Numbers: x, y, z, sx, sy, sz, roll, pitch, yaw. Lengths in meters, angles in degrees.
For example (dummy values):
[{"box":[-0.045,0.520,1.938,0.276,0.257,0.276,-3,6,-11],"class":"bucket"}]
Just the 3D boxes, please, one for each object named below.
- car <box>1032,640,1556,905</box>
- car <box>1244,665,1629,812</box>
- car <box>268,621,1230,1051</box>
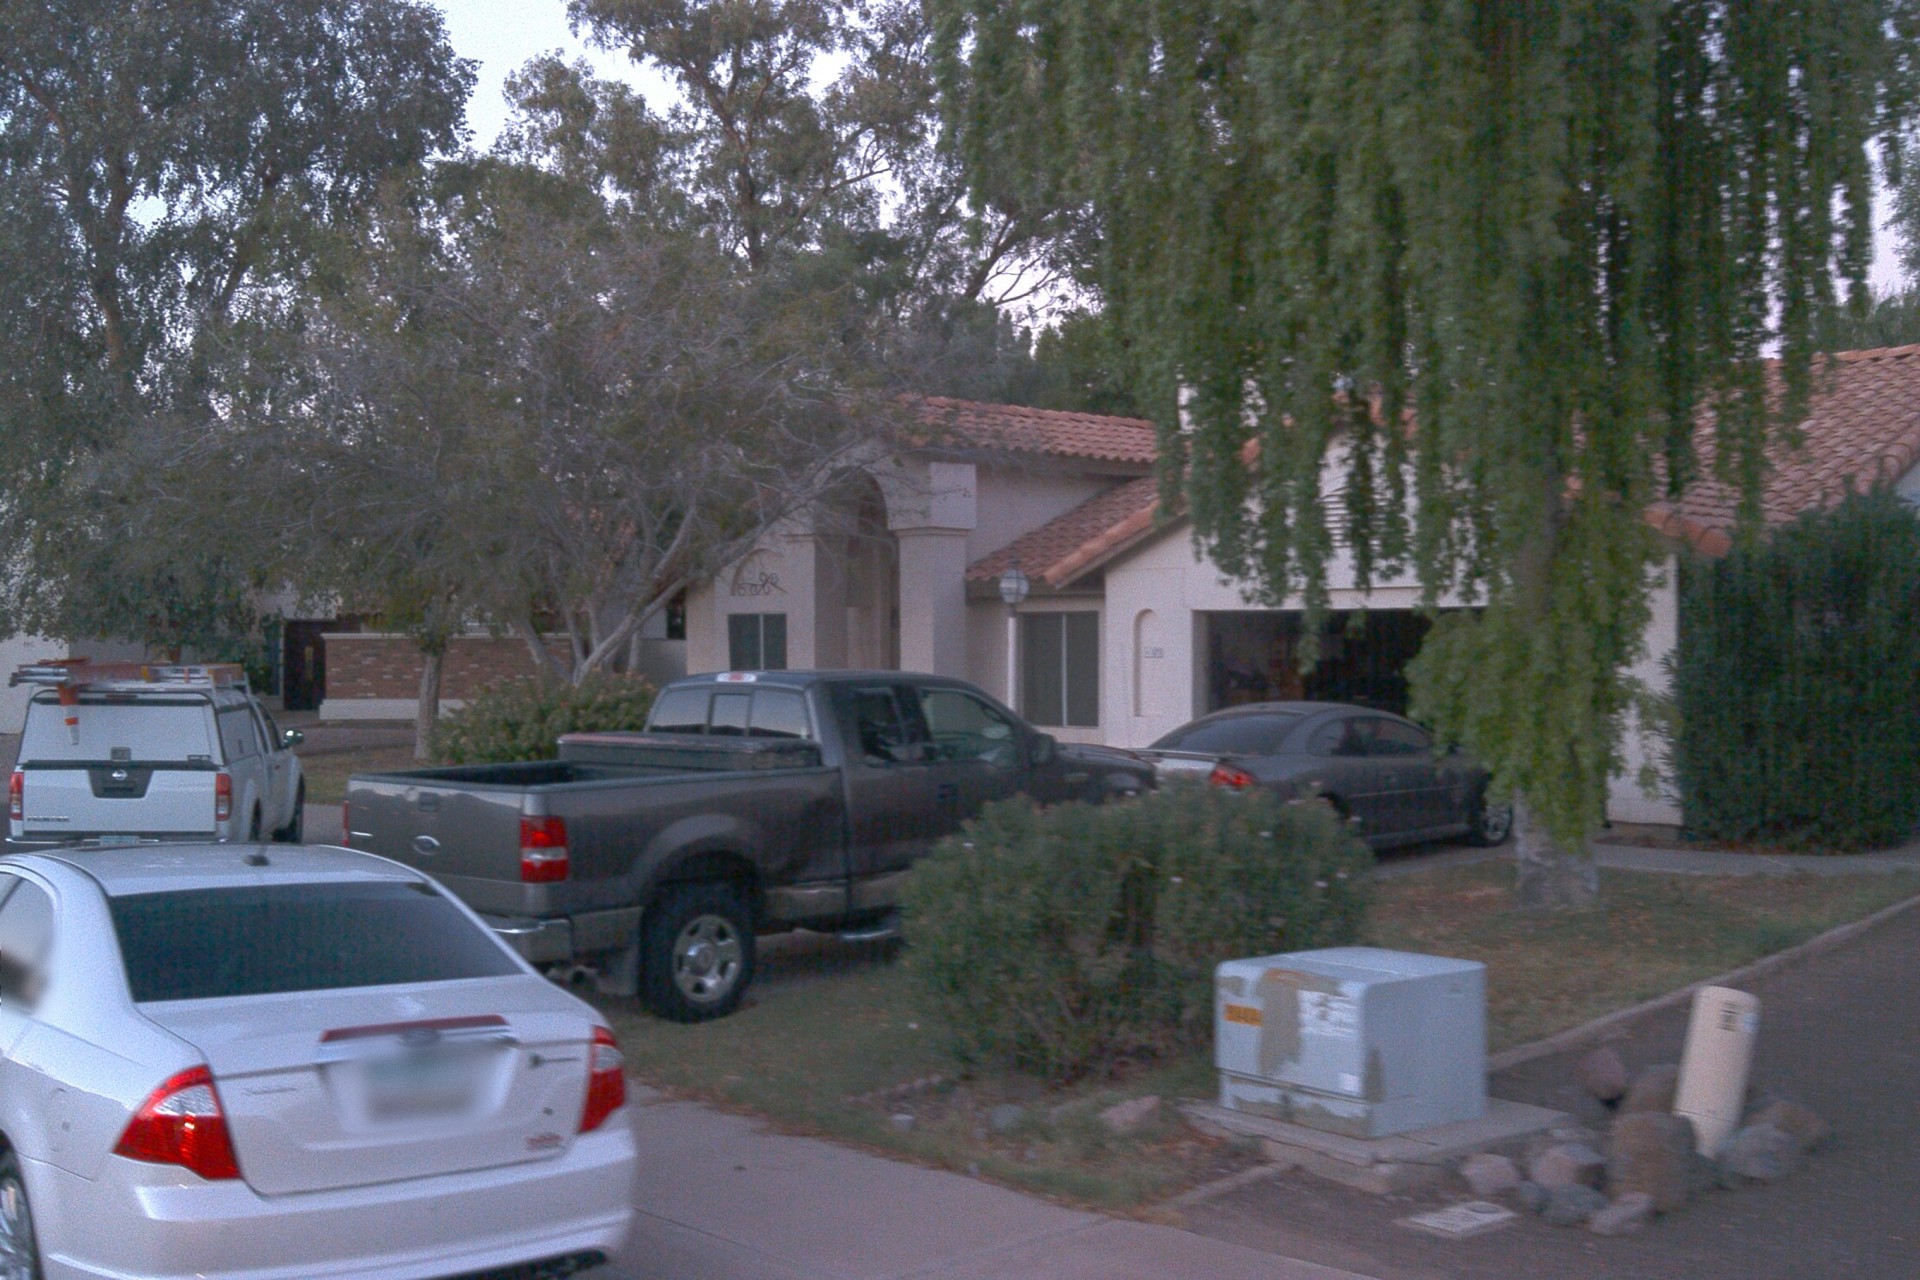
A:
[{"box":[2.950,0.997,17.631,2.034,1.930,4.722,0,-1,44],"class":"car"},{"box":[5.428,1.038,23.461,4.447,1.490,2.011,1,-1,-42],"class":"car"},{"box":[-1.038,0.992,13.173,2.513,2.100,5.815,0,-1,43],"class":"car"}]
